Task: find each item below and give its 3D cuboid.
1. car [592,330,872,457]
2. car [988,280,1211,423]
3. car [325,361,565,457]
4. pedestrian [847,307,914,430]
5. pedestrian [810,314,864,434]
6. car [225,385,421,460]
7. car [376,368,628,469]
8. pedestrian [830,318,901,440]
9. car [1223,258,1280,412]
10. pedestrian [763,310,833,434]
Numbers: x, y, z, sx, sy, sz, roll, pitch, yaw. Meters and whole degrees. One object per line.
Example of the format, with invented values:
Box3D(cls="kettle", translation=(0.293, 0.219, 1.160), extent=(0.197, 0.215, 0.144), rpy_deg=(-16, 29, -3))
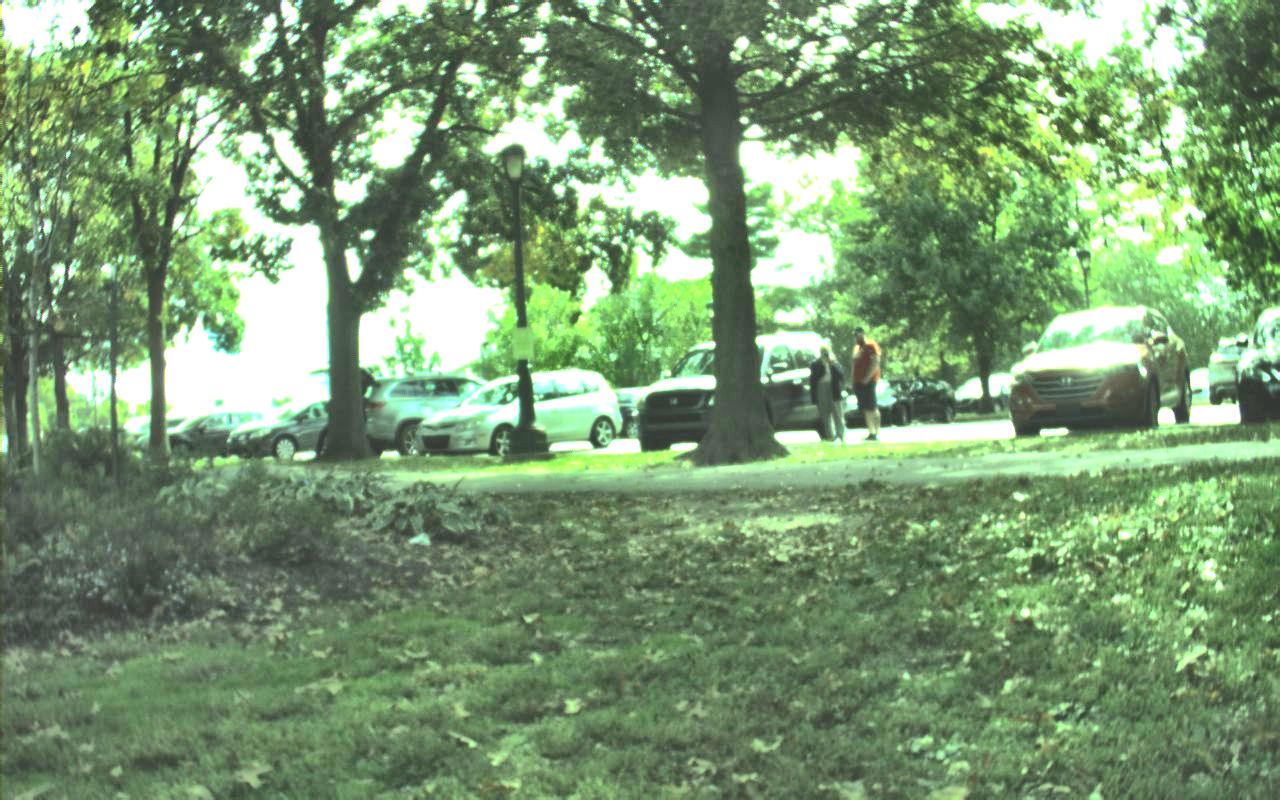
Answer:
Box3D(cls="car", translation=(1.567, -0.139, 19.594), extent=(2.045, 1.719, 4.666), rpy_deg=(1, 1, 39))
Box3D(cls="car", translation=(6.247, -0.584, 15.814), extent=(1.962, 1.621, 4.529), rpy_deg=(1, 1, 36))
Box3D(cls="car", translation=(-3.942, 0.127, 25.466), extent=(4.590, 1.793, 1.997), rpy_deg=(-1, 1, -42))
Box3D(cls="pedestrian", translation=(3.759, -0.487, 19.559), extent=(0.766, 1.869, 0.759), rpy_deg=(1, 0, 41))
Box3D(cls="pedestrian", translation=(3.022, -0.394, 19.331), extent=(0.772, 1.815, 0.757), rpy_deg=(0, 0, 5))
Box3D(cls="car", translation=(-7.522, 0.499, 29.235), extent=(1.947, 1.605, 4.418), rpy_deg=(1, 1, 44))
Box3D(cls="car", translation=(-2.478, 0.263, 23.483), extent=(1.982, 1.686, 4.705), rpy_deg=(1, 1, 39))
Box3D(cls="pedestrian", translation=(3.512, -0.325, 19.545), extent=(0.809, 1.852, 0.778), rpy_deg=(0, 0, -43))
Box3D(cls="car", translation=(8.497, -0.681, 13.558), extent=(1.957, 1.604, 4.515), rpy_deg=(1, 1, 40))
Box3D(cls="pedestrian", translation=(2.423, -0.425, 19.348), extent=(0.756, 1.842, 0.744), rpy_deg=(0, 0, -35))
